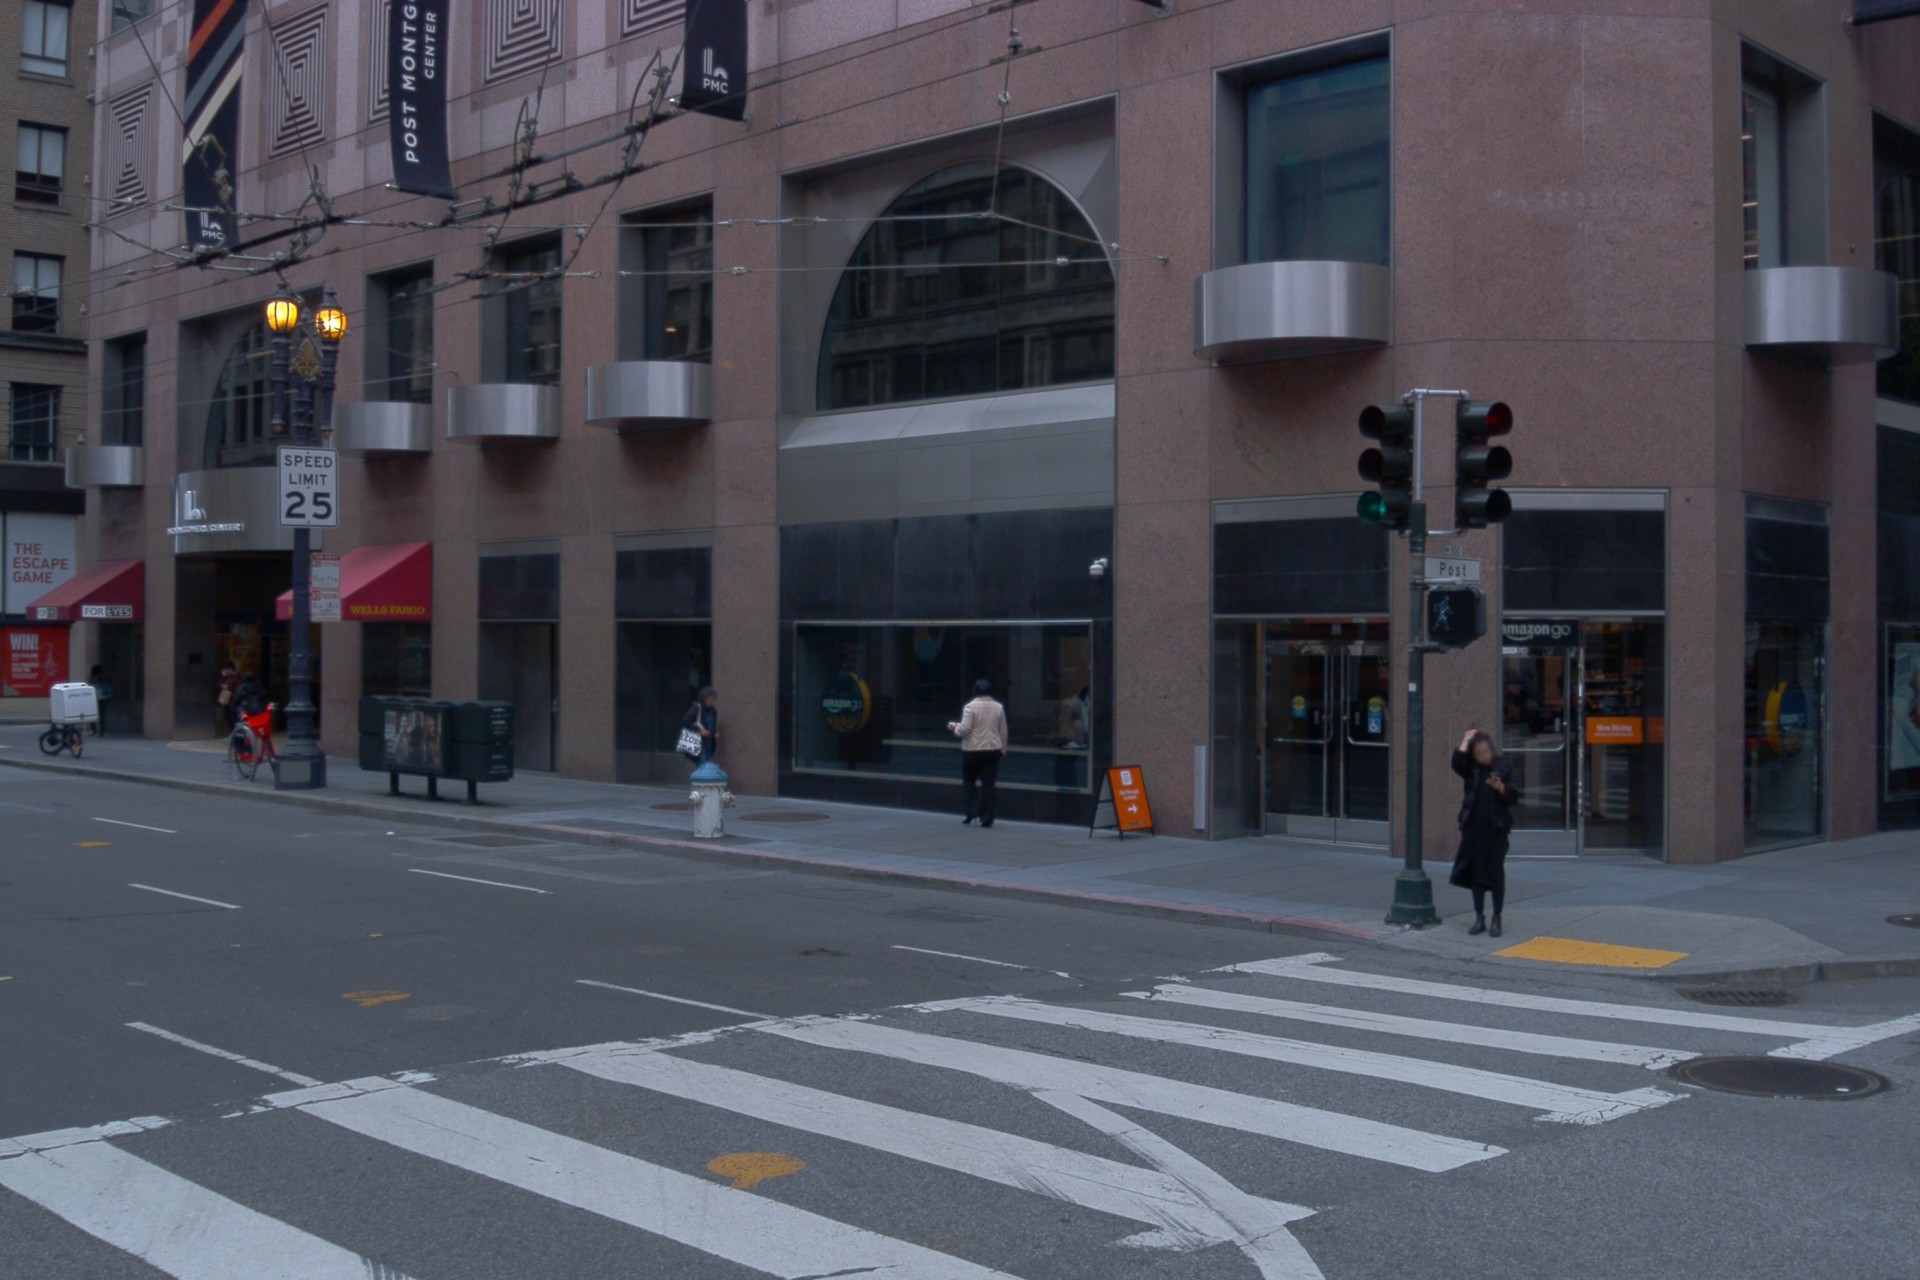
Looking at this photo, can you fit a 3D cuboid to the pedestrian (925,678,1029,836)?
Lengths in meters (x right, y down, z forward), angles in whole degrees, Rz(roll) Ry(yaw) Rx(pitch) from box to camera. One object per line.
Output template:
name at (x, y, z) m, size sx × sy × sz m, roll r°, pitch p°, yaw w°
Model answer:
pedestrian at (0.192, 1.320, 23.690) m, size 0.839 × 1.740 × 0.910 m, roll 0°, pitch 1°, yaw -31°

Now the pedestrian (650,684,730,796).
pedestrian at (-3.658, 1.342, 27.874) m, size 0.764 × 1.450 × 0.786 m, roll -1°, pitch 1°, yaw -44°

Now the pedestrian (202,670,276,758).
pedestrian at (-12.507, 1.275, 35.694) m, size 0.802 × 1.470 × 0.913 m, roll 0°, pitch 1°, yaw 39°

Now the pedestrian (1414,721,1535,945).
pedestrian at (3.997, 1.481, 16.044) m, size 0.851 × 1.650 × 0.855 m, roll 0°, pitch 1°, yaw 9°
